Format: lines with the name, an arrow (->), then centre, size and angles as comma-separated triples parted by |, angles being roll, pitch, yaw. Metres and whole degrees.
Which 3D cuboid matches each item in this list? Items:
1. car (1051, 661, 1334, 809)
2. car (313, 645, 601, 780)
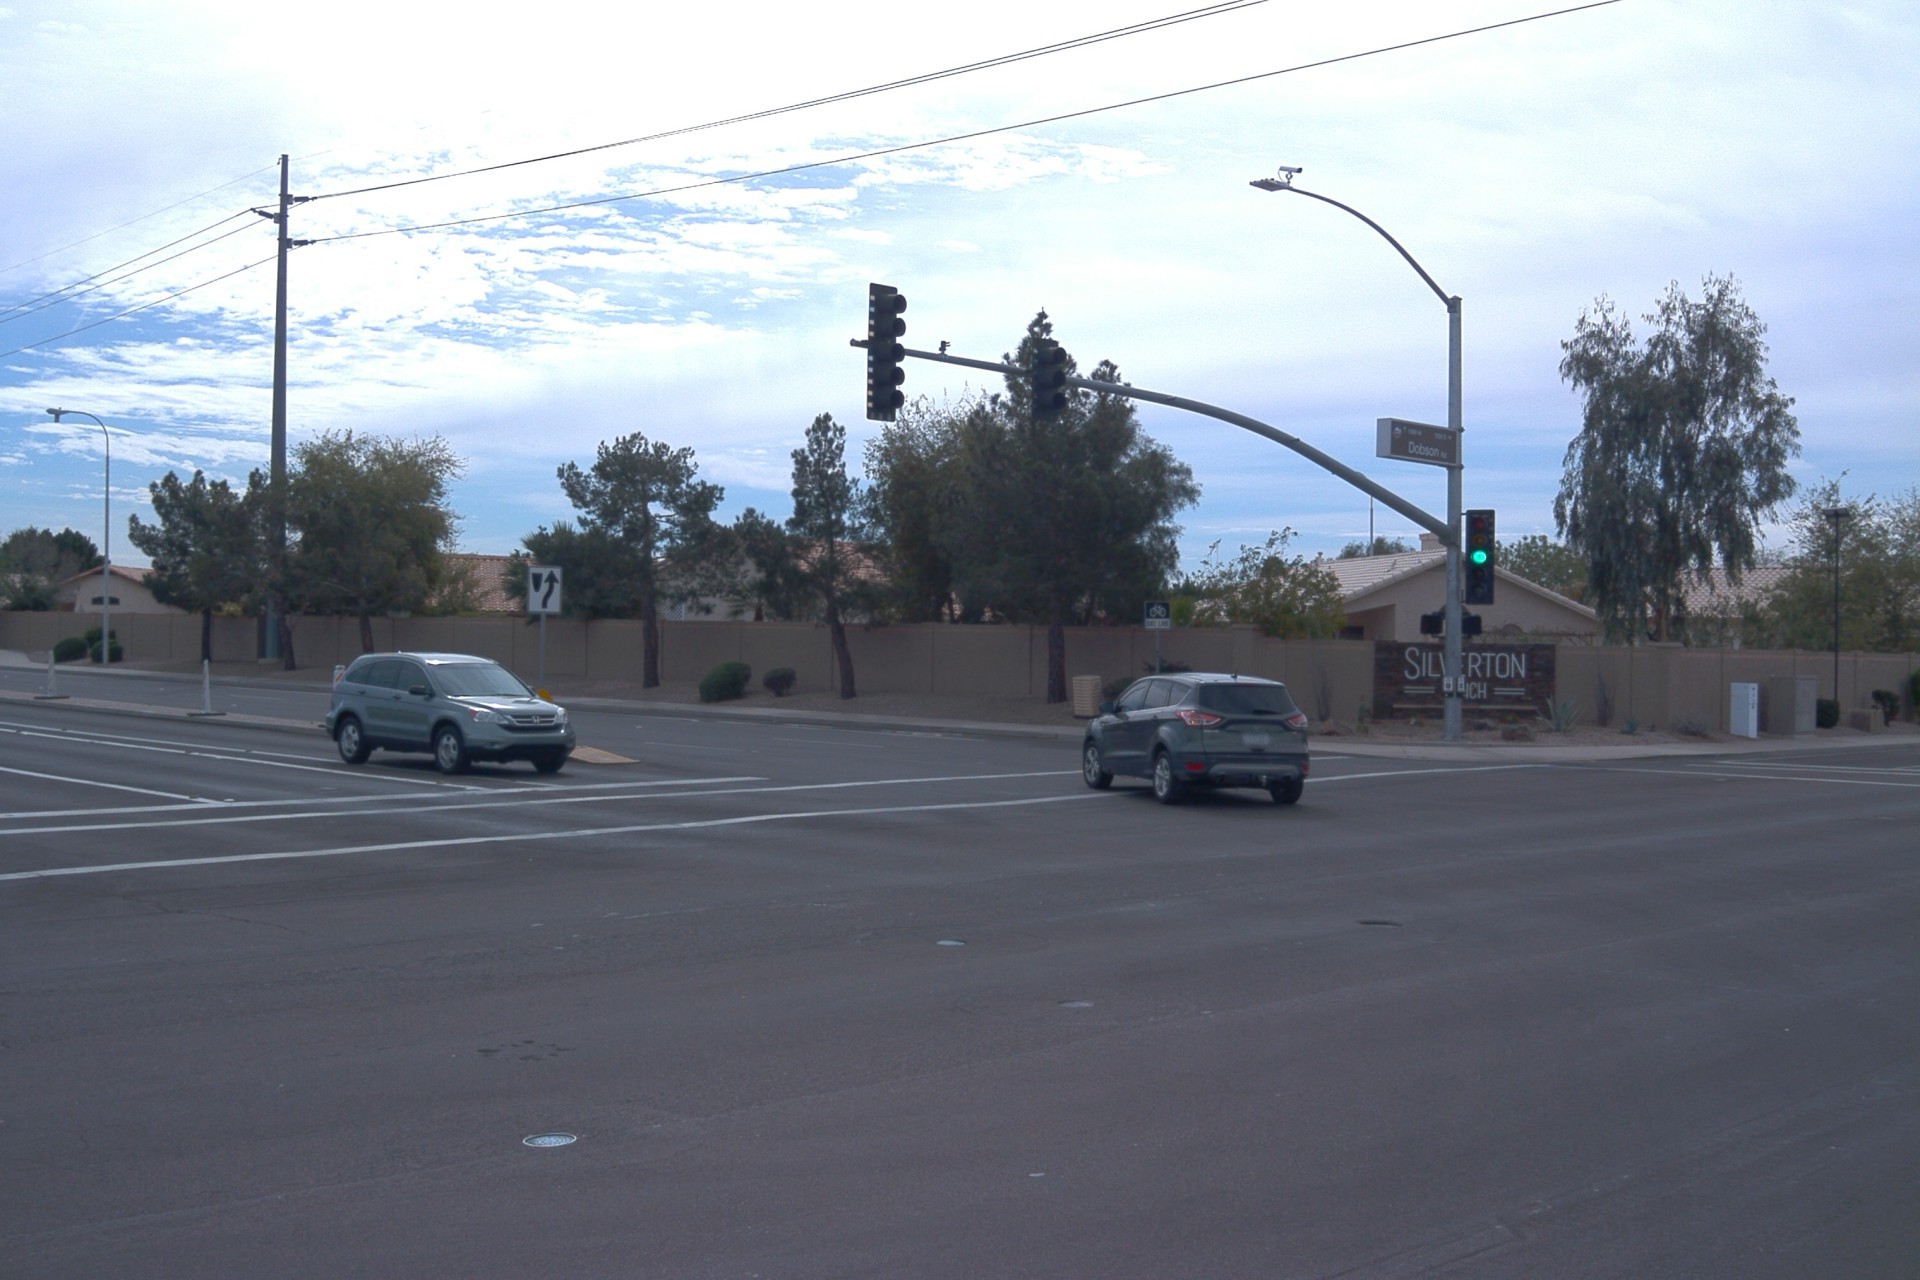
car -> 2.977, 1.195, 27.614 | 2.127, 1.740, 4.595 | 1, 0, -16
car -> -7.420, 0.994, 30.266 | 4.385, 1.760, 2.061 | 1, 0, 44
